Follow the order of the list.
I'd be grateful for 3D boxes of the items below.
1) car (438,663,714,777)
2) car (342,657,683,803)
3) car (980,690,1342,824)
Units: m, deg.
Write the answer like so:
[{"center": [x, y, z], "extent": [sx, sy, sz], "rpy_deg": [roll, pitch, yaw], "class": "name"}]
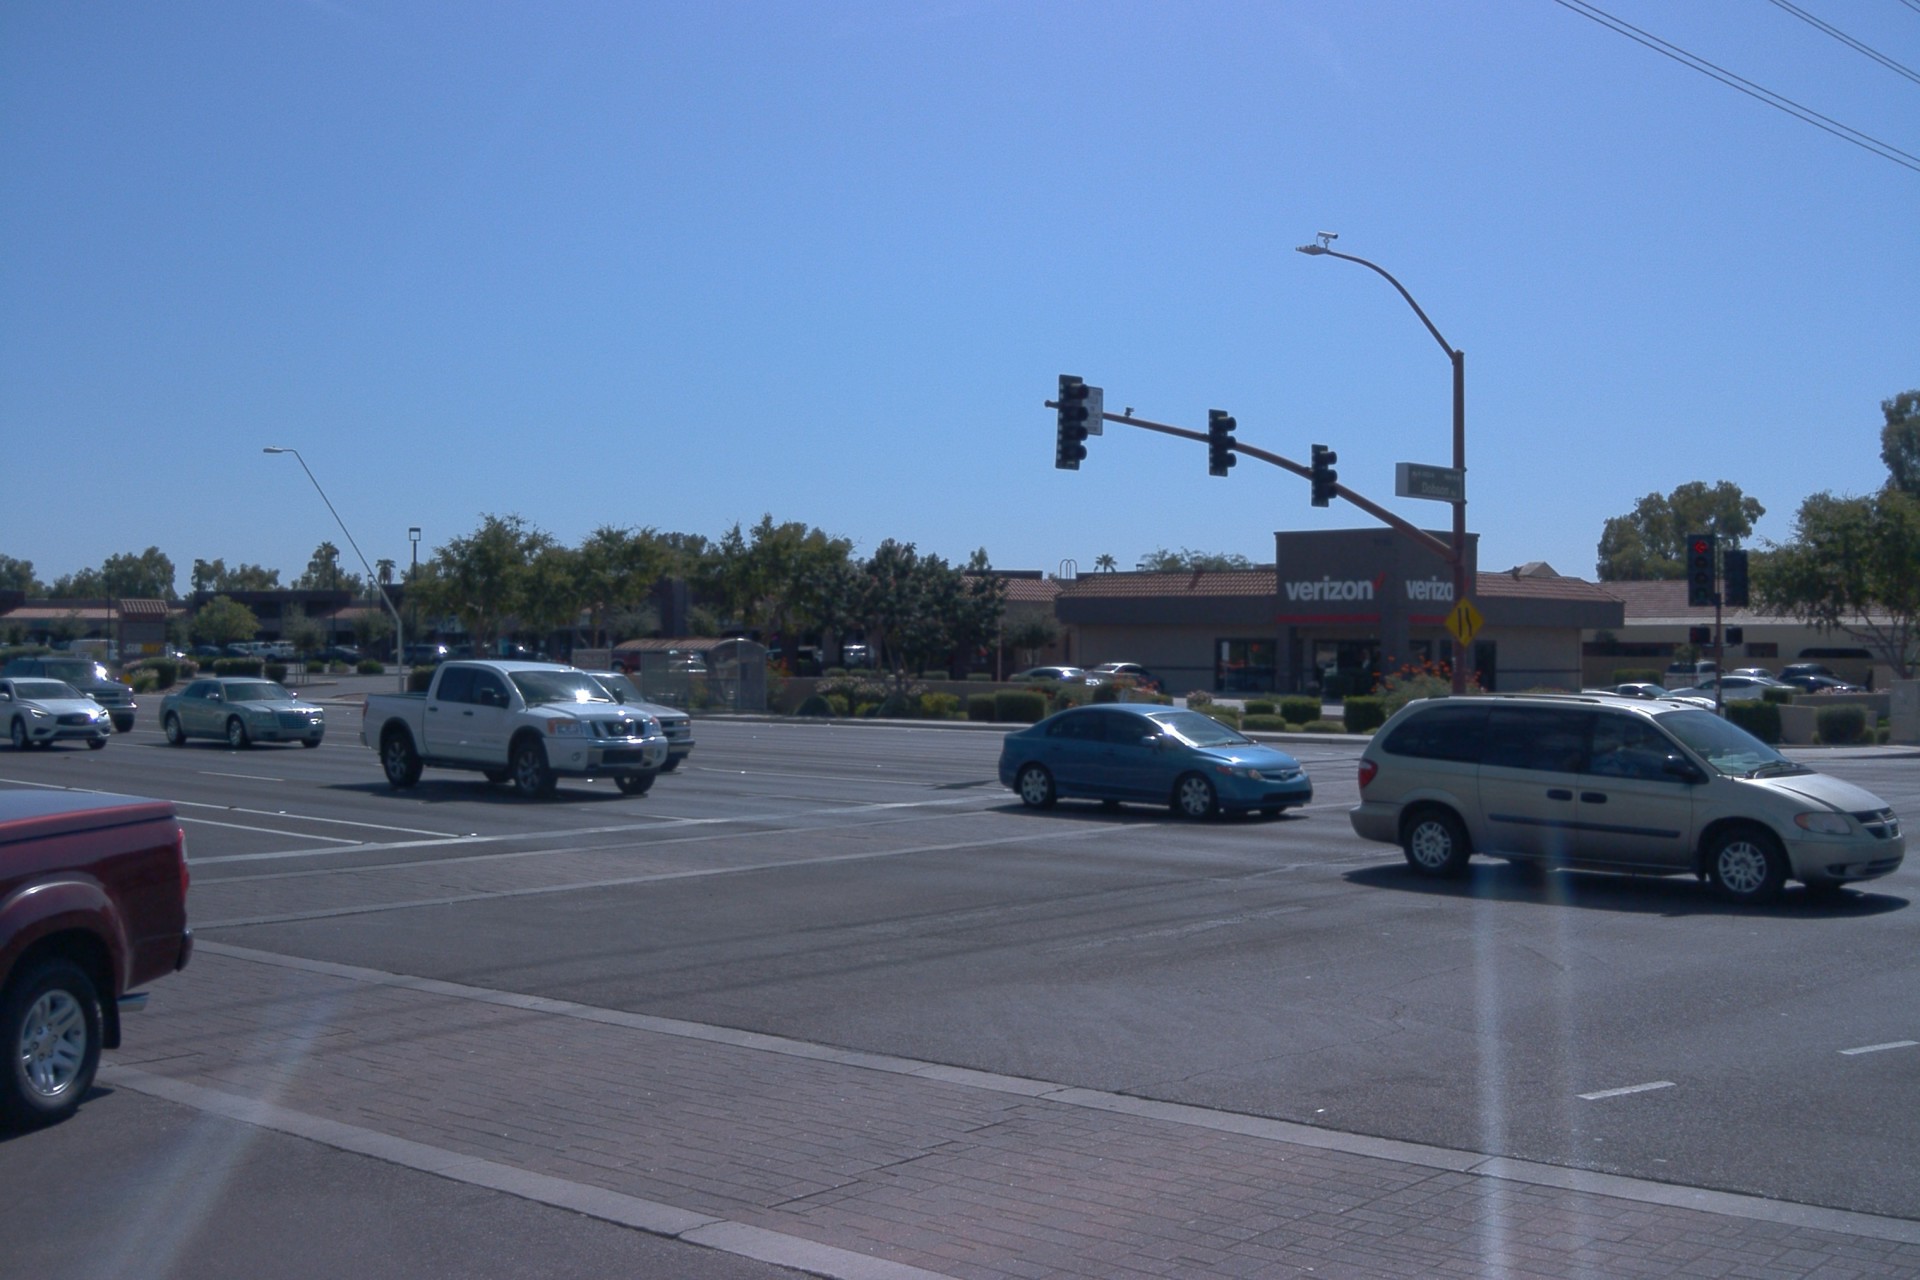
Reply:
[{"center": [-6.849, 1.346, 36.874], "extent": [5.098, 1.840, 2.279], "rpy_deg": [0, -1, 45], "class": "car"}, {"center": [-6.868, 1.267, 31.592], "extent": [5.691, 2.010, 2.278], "rpy_deg": [0, -1, 44], "class": "car"}, {"center": [2.586, 1.472, 27.556], "extent": [4.446, 1.540, 2.057], "rpy_deg": [0, -1, 45], "class": "car"}]
